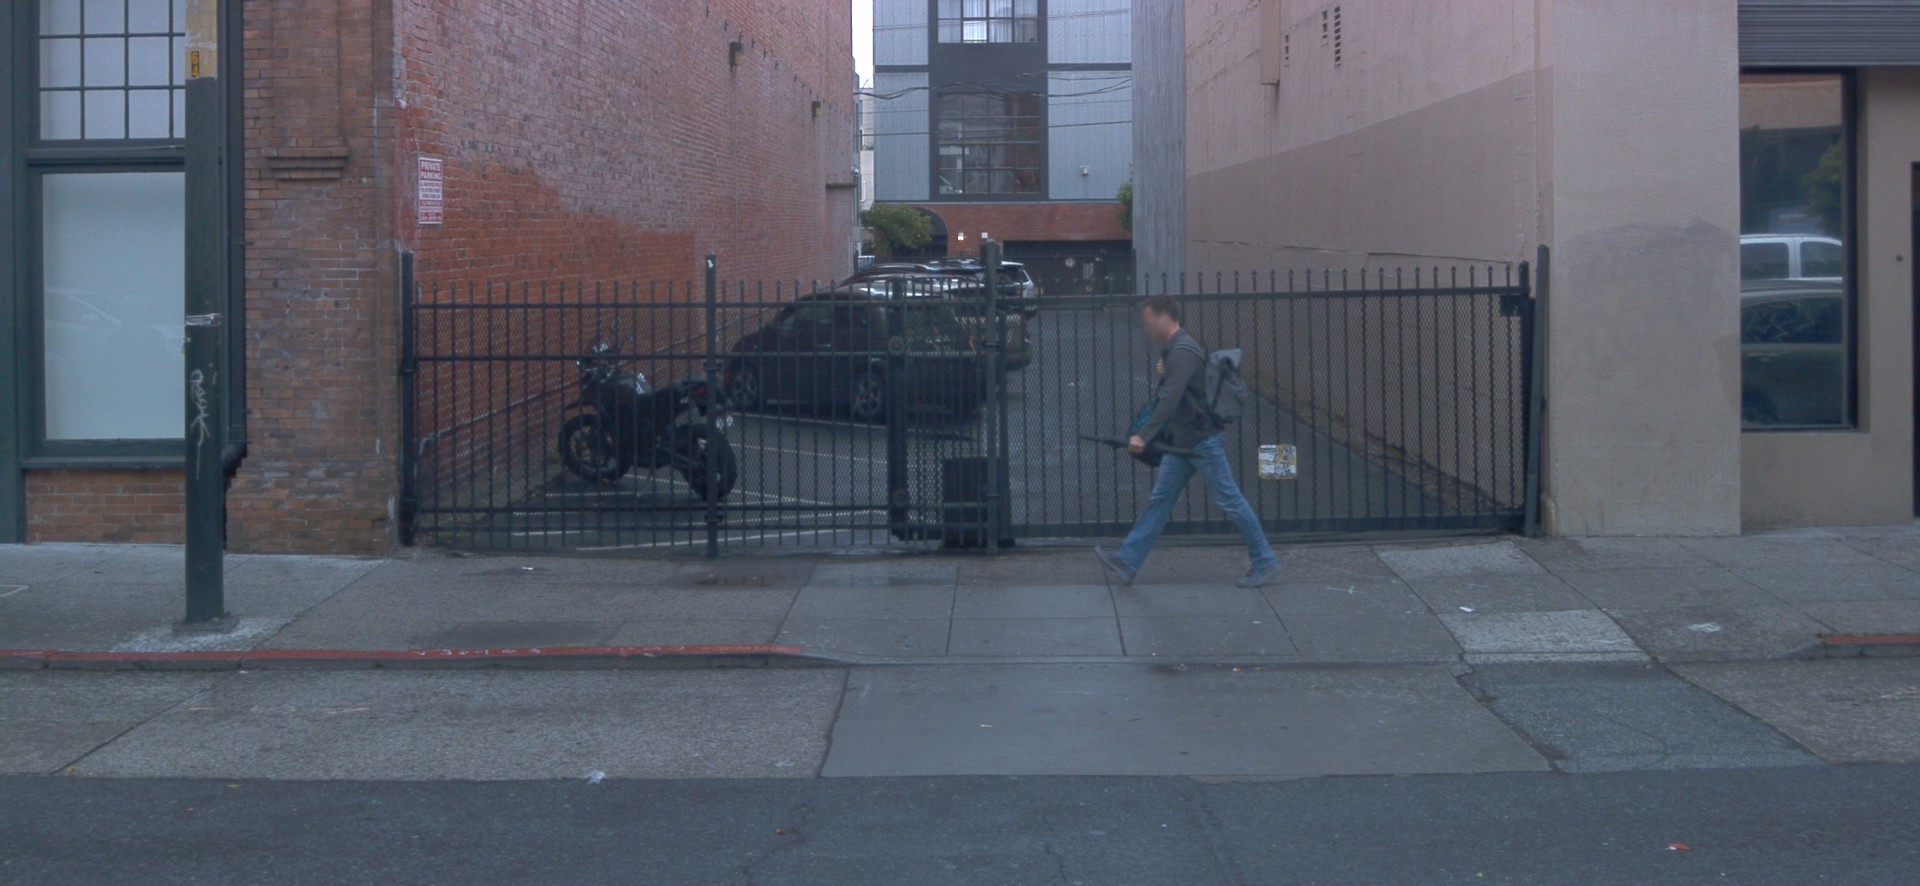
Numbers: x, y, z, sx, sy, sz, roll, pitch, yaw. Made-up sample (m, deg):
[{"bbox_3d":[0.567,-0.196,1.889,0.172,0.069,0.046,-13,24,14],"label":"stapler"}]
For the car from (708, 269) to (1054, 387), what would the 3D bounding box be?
[{"bbox_3d":[-1.156,-1.649,28.620,4.644,1.395,1.983,5,6,40],"label":"car"}]

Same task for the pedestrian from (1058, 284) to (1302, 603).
[{"bbox_3d":[1.292,-0.039,12.429,1.305,1.799,1.012,0,1,-3],"label":"pedestrian"}]

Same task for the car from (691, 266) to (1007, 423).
[{"bbox_3d":[-1.393,-1.269,25.115,3.694,1.676,1.797,5,6,44],"label":"car"}]

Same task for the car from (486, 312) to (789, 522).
[{"bbox_3d":[-2.658,-0.276,16.912,2.413,1.477,1.168,4,4,41],"label":"car"}]
